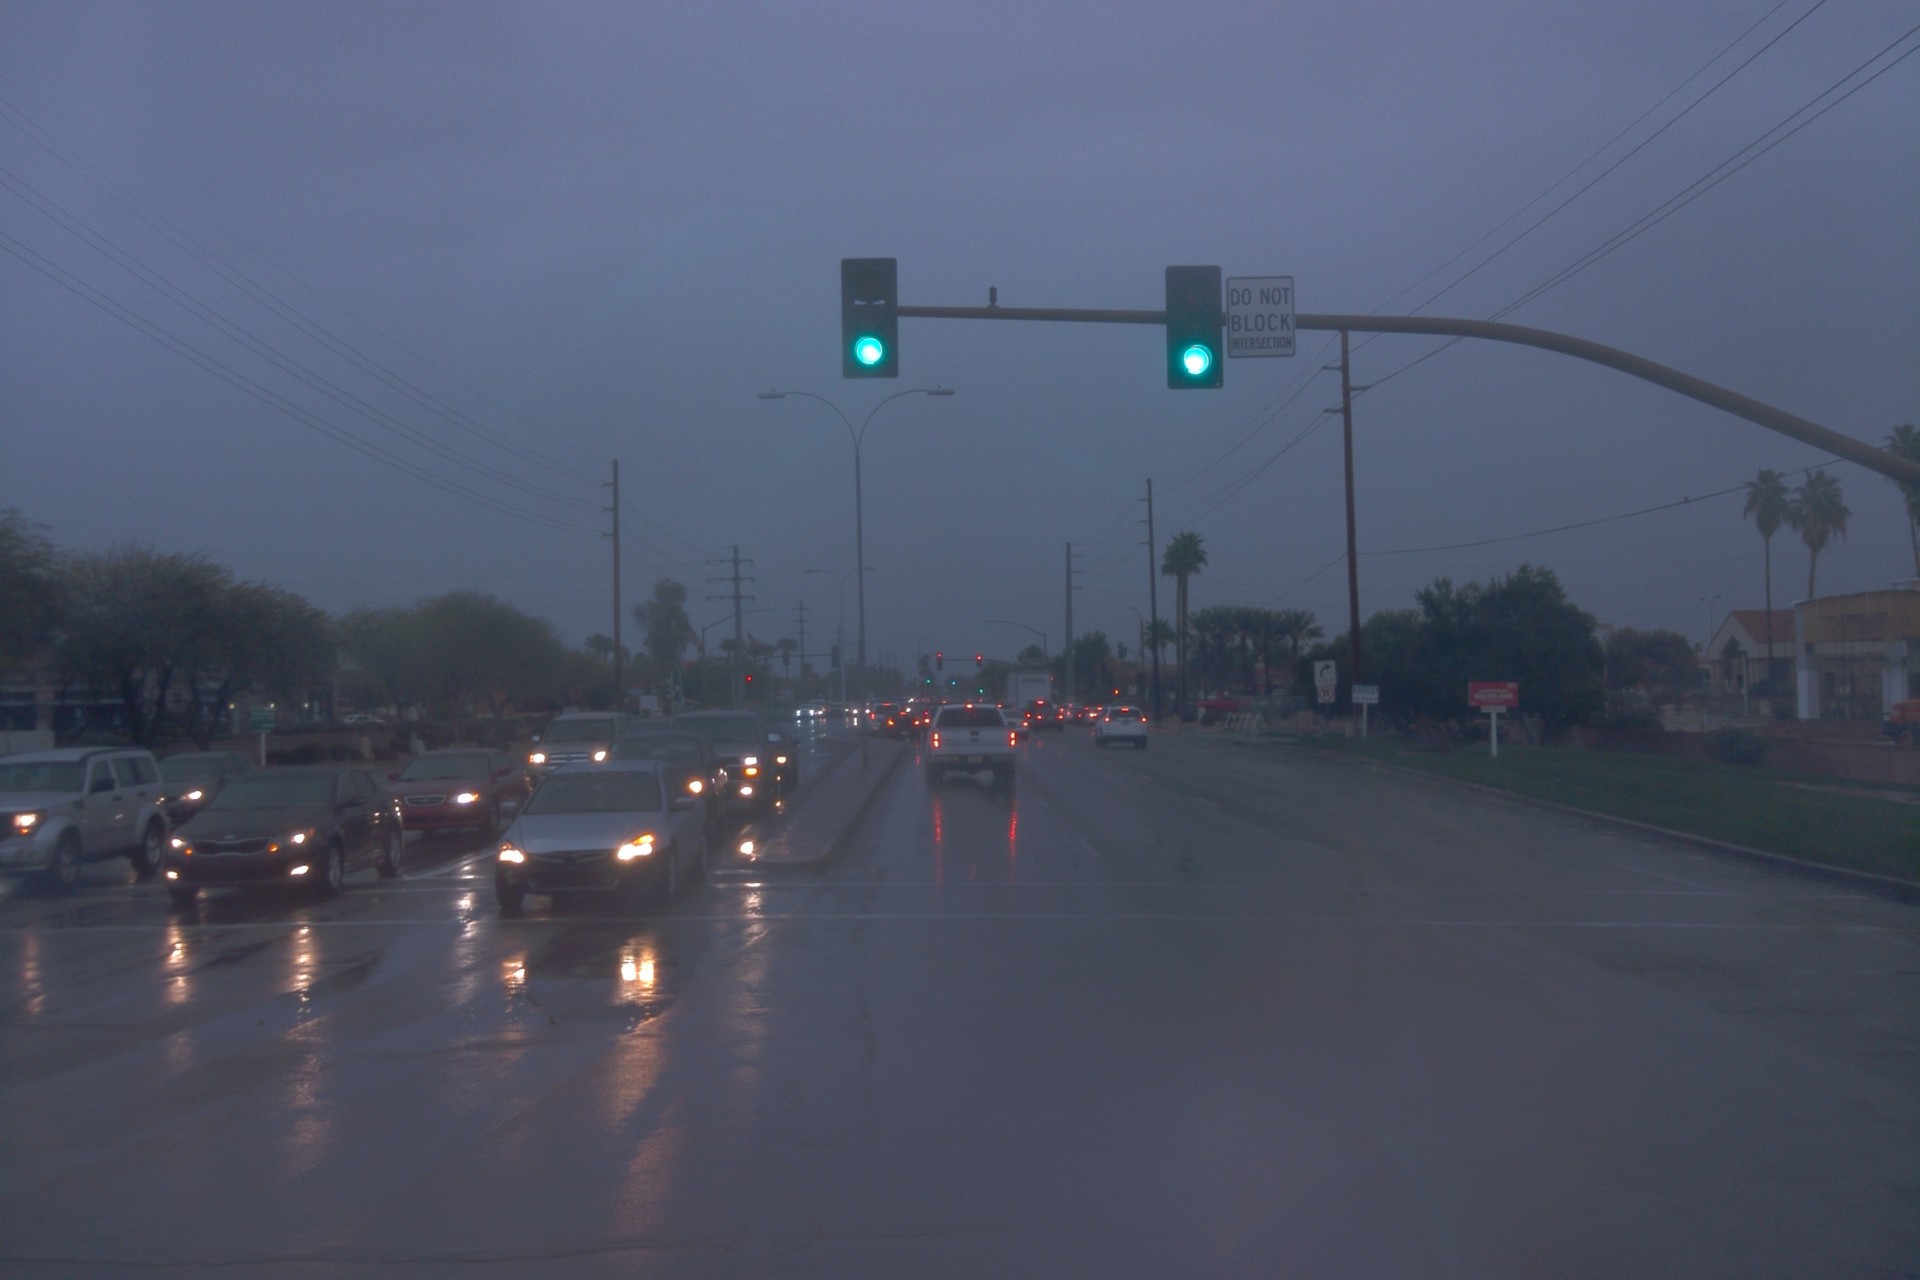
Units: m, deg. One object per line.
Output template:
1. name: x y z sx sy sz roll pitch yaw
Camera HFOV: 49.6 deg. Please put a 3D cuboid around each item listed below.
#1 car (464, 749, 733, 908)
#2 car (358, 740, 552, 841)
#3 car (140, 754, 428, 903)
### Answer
1. car: -3.810 1.978 22.745 2.102 1.410 4.605 0 -1 1
2. car: -8.222 2.420 34.287 2.144 1.410 4.797 0 -1 -1
3. car: -7.934 2.173 24.887 2.042 1.440 4.763 0 -1 -2
